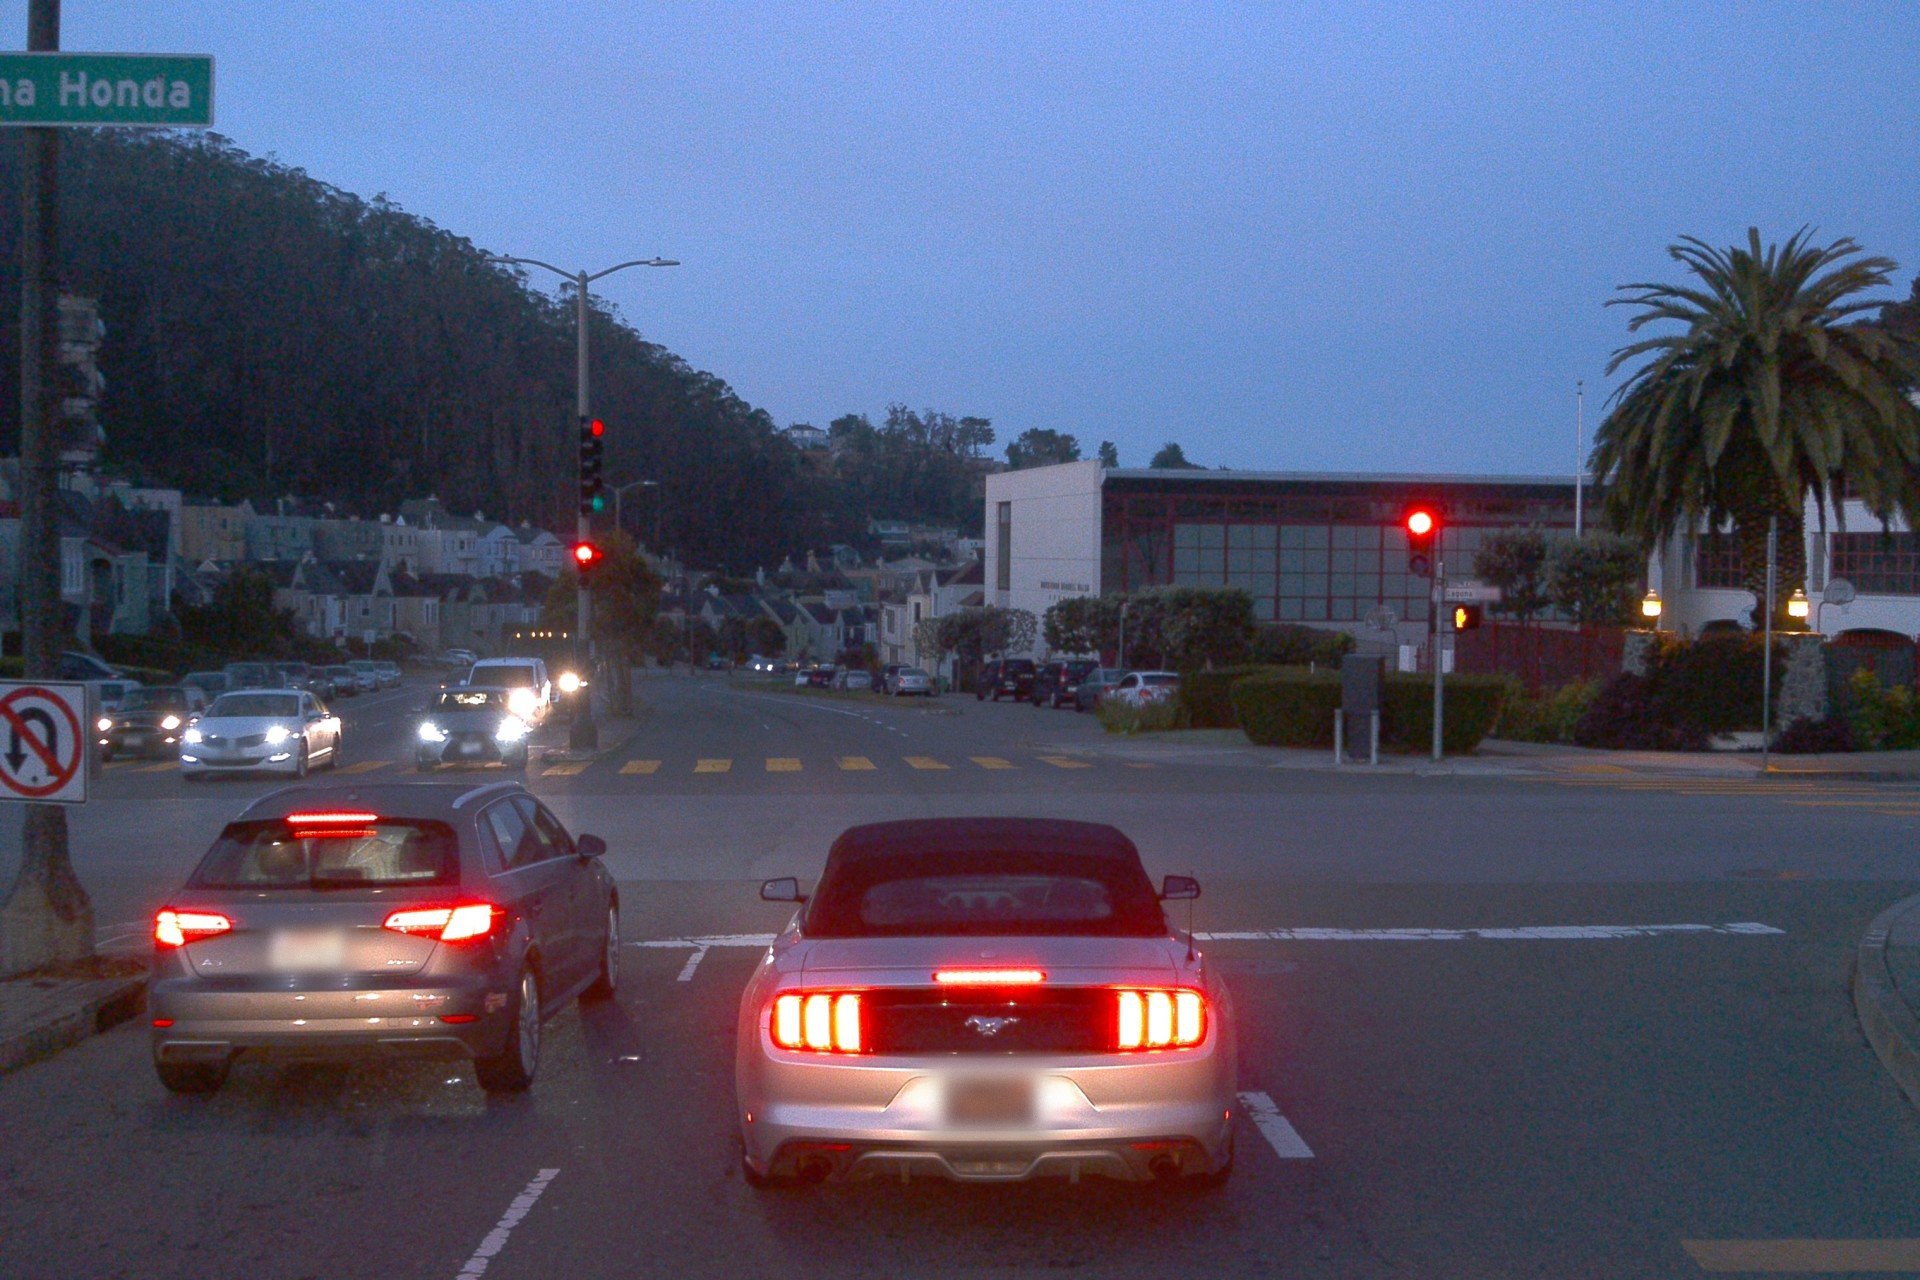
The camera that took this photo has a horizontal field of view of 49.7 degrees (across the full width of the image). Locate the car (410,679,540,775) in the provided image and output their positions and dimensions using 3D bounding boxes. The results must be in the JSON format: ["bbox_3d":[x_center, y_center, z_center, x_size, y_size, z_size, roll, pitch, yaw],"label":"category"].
[{"bbox_3d":[-8.514,1.455,36.077,2.029,1.490,4.668,0,0,-15],"label":"car"}]

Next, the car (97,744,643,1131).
[{"bbox_3d":[-2.886,1.403,11.058,1.782,1.510,3.987,0,0,0],"label":"car"}]

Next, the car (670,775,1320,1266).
[{"bbox_3d":[0.099,1.418,9.110,2.174,1.380,4.355,0,0,0],"label":"car"}]

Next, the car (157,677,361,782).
[{"bbox_3d":[-11.499,1.416,34.339,2.169,1.550,4.848,0,0,-6],"label":"car"}]
